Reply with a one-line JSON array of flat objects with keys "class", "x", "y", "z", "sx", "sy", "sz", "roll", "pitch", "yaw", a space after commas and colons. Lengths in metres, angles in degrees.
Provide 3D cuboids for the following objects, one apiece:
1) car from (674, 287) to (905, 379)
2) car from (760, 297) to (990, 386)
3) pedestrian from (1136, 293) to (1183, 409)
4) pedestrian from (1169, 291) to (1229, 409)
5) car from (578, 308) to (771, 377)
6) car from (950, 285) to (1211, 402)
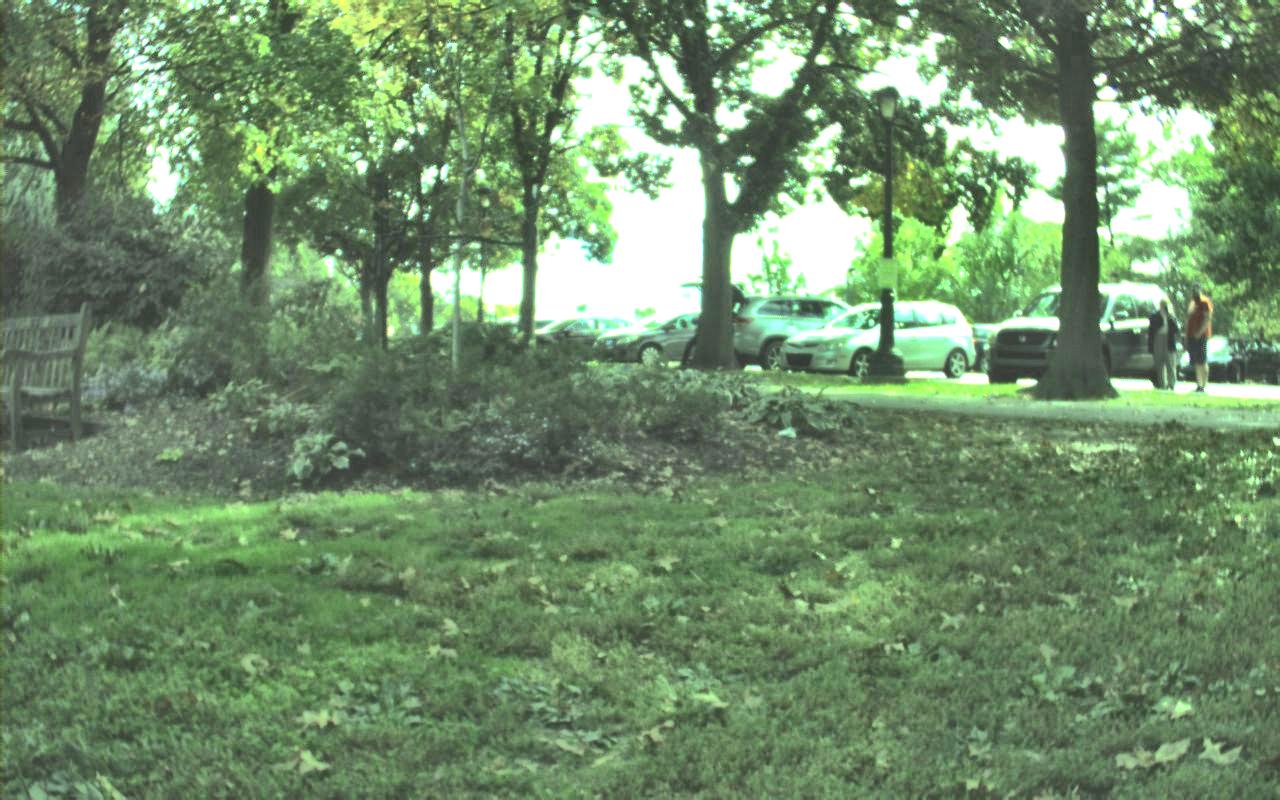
[{"class": "car", "x": 3.196, "y": -1.351, "z": 26.710, "sx": 4.560, "sy": 1.778, "sz": 1.984, "roll": 0, "pitch": 1, "yaw": -25}, {"class": "car", "x": 4.666, "y": -1.075, "z": 24.429, "sx": 4.496, "sy": 1.592, "sz": 1.928, "roll": 0, "pitch": 1, "yaw": -34}, {"class": "pedestrian", "x": 8.345, "y": -0.750, "z": 19.003, "sx": 0.770, "sy": 1.815, "sz": 0.759, "roll": 1, "pitch": 0, "yaw": 21}, {"class": "pedestrian", "x": 9.119, "y": -0.766, "z": 19.020, "sx": 0.759, "sy": 1.869, "sz": 0.766, "roll": 0, "pitch": 0, "yaw": -33}, {"class": "car", "x": 0.881, "y": -1.376, "z": 31.452, "sx": 4.415, "sy": 1.605, "sz": 1.948, "roll": 0, "pitch": 1, "yaw": -31}, {"class": "car", "x": 7.326, "y": -0.836, "z": 19.691, "sx": 4.571, "sy": 1.696, "sz": 2.010, "roll": 0, "pitch": 1, "yaw": -30}]
